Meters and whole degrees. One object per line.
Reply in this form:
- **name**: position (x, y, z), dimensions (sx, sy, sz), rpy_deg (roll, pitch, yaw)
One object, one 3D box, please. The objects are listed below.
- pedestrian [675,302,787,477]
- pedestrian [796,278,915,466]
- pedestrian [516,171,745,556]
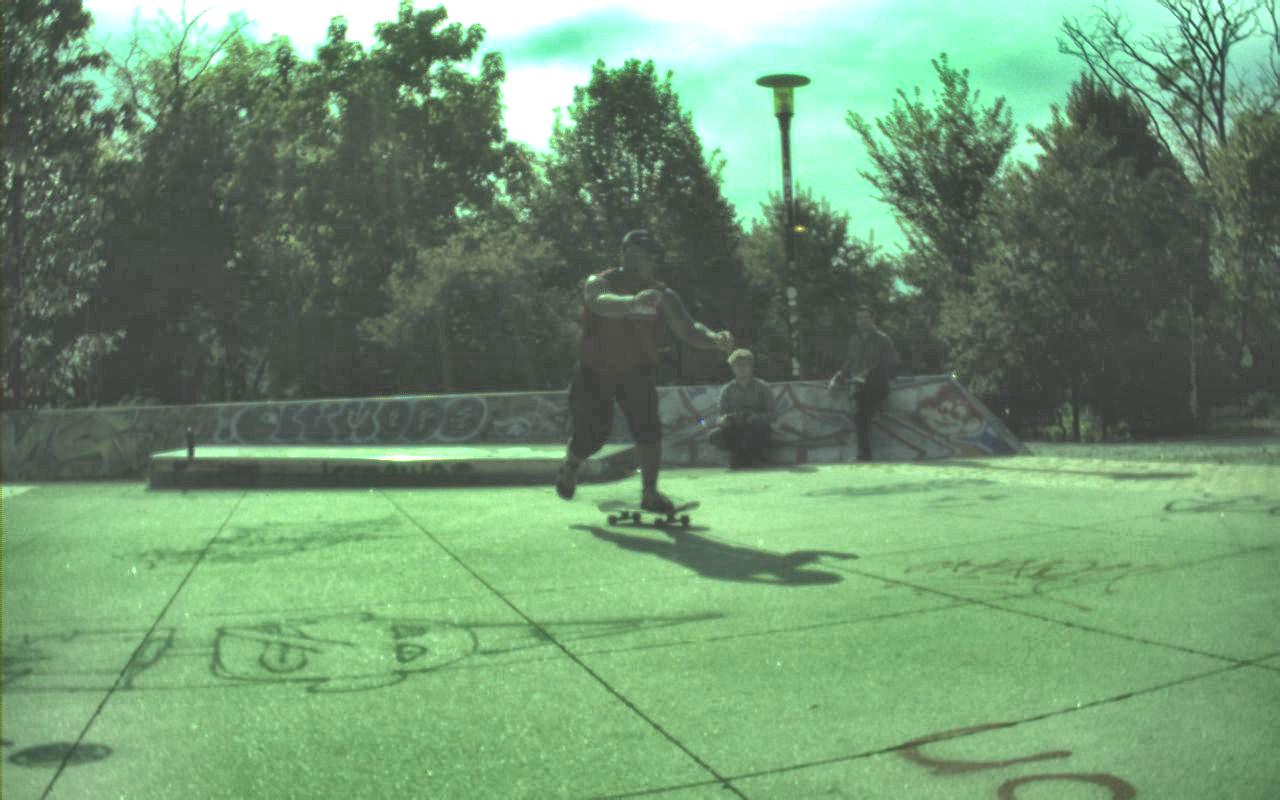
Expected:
- **pedestrian**: position (0.839, -0.098, 11.742), dimensions (0.843, 1.560, 0.811), rpy_deg (0, 0, -12)
- **pedestrian**: position (2.025, -0.262, 11.800), dimensions (0.861, 1.693, 0.825), rpy_deg (0, 0, -14)
- **pedestrian**: position (-0.074, -0.181, 6.397), dimensions (0.886, 1.786, 0.957), rpy_deg (0, 0, -21)
